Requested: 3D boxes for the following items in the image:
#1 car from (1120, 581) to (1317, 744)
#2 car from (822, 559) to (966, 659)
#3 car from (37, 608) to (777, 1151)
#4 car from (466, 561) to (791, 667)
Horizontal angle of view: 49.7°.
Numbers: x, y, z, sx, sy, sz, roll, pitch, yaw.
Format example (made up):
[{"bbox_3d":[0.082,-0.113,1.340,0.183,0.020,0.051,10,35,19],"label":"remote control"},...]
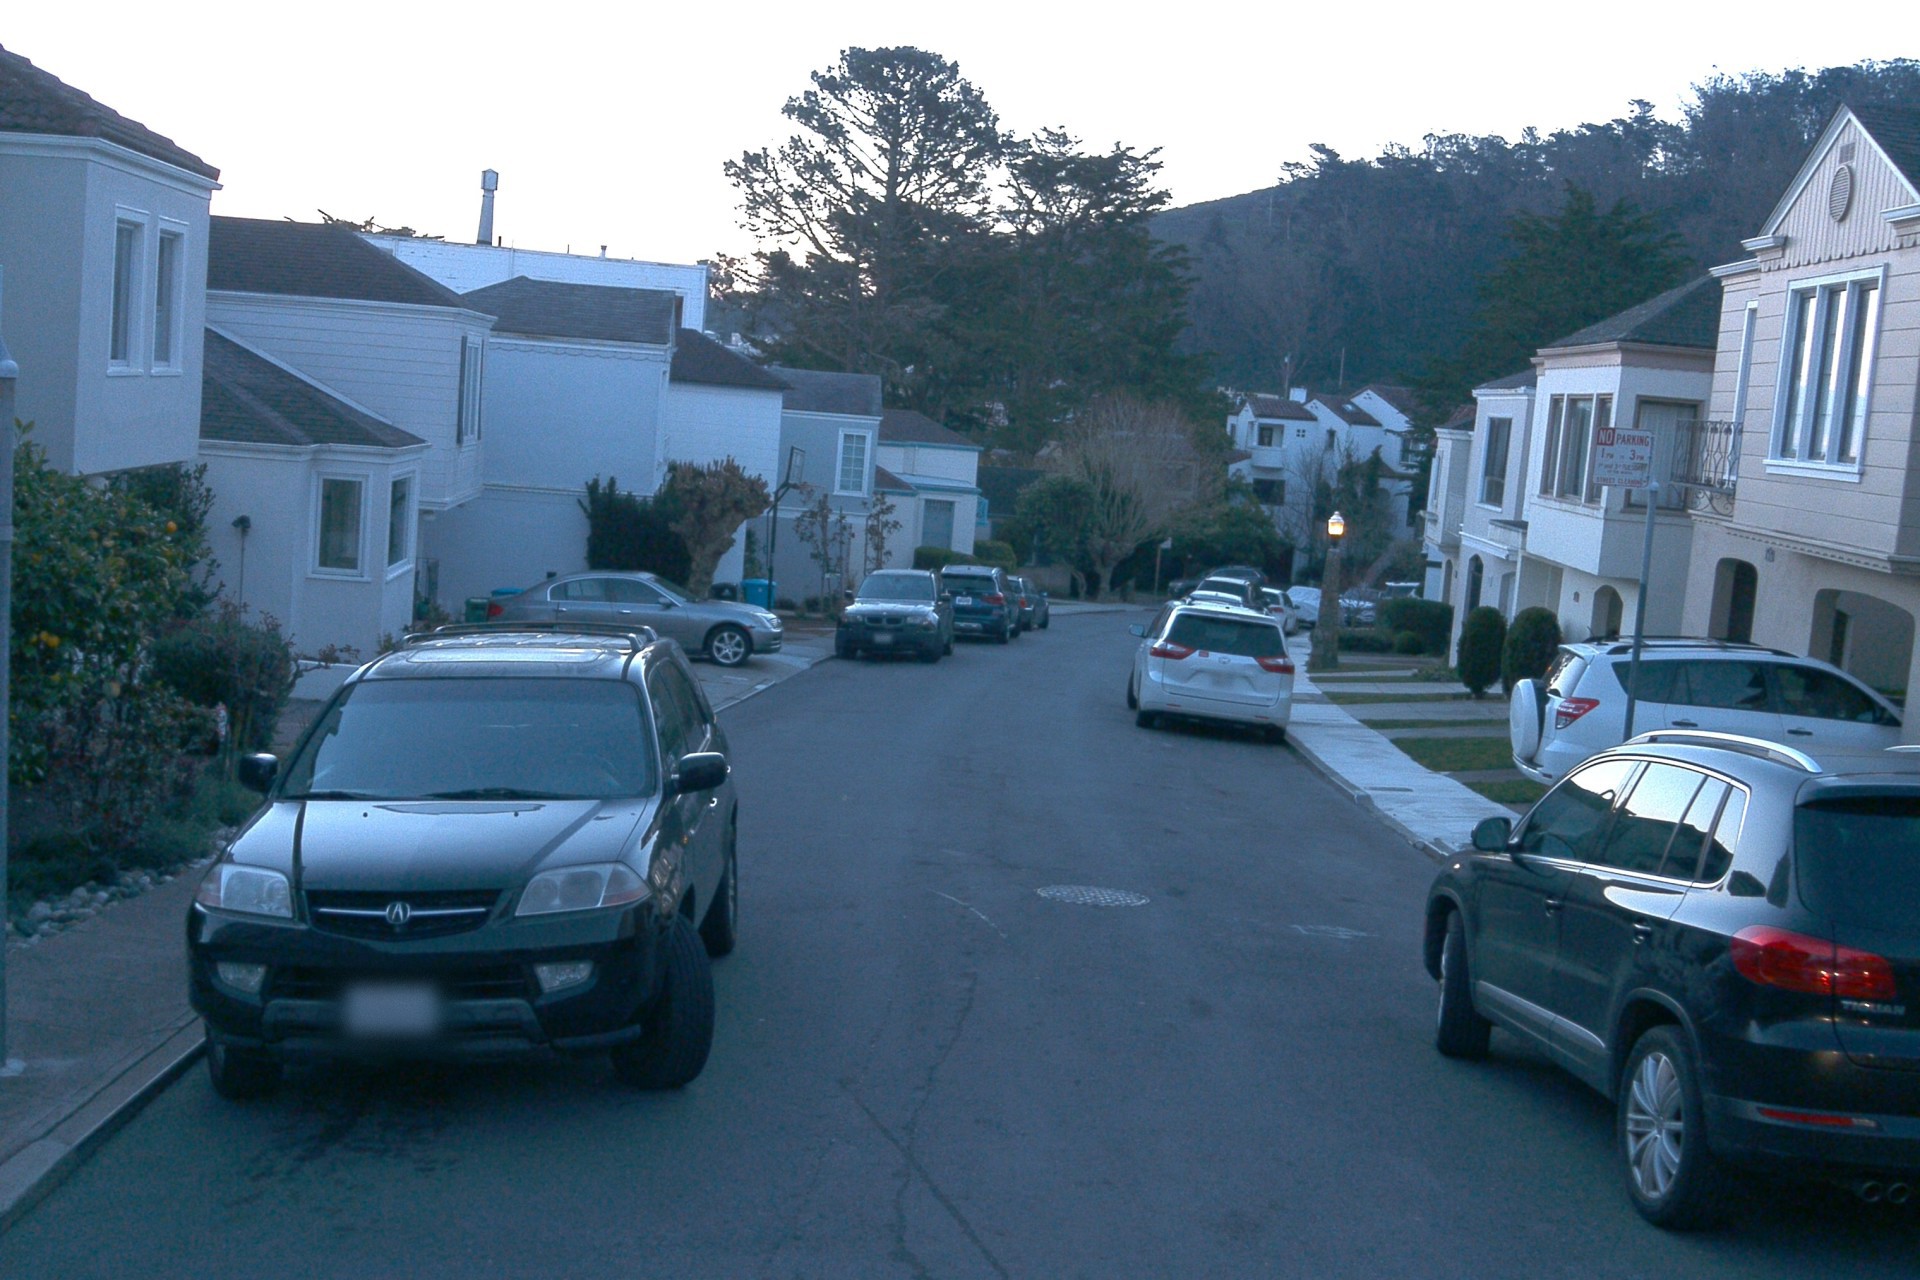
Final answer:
[{"bbox_3d":[3.466,0.277,28.764,2.374,2.050,5.079,0,0,3],"label":"car"},{"bbox_3d":[-1.153,-0.558,38.605,2.092,1.740,4.533,0,0,5],"label":"car"},{"bbox_3d":[-2.150,0.828,9.725,2.326,1.880,4.865,0,0,-2],"label":"car"},{"bbox_3d":[-5.135,-0.400,32.620,4.768,1.580,1.989,0,0,-1],"label":"car"}]
